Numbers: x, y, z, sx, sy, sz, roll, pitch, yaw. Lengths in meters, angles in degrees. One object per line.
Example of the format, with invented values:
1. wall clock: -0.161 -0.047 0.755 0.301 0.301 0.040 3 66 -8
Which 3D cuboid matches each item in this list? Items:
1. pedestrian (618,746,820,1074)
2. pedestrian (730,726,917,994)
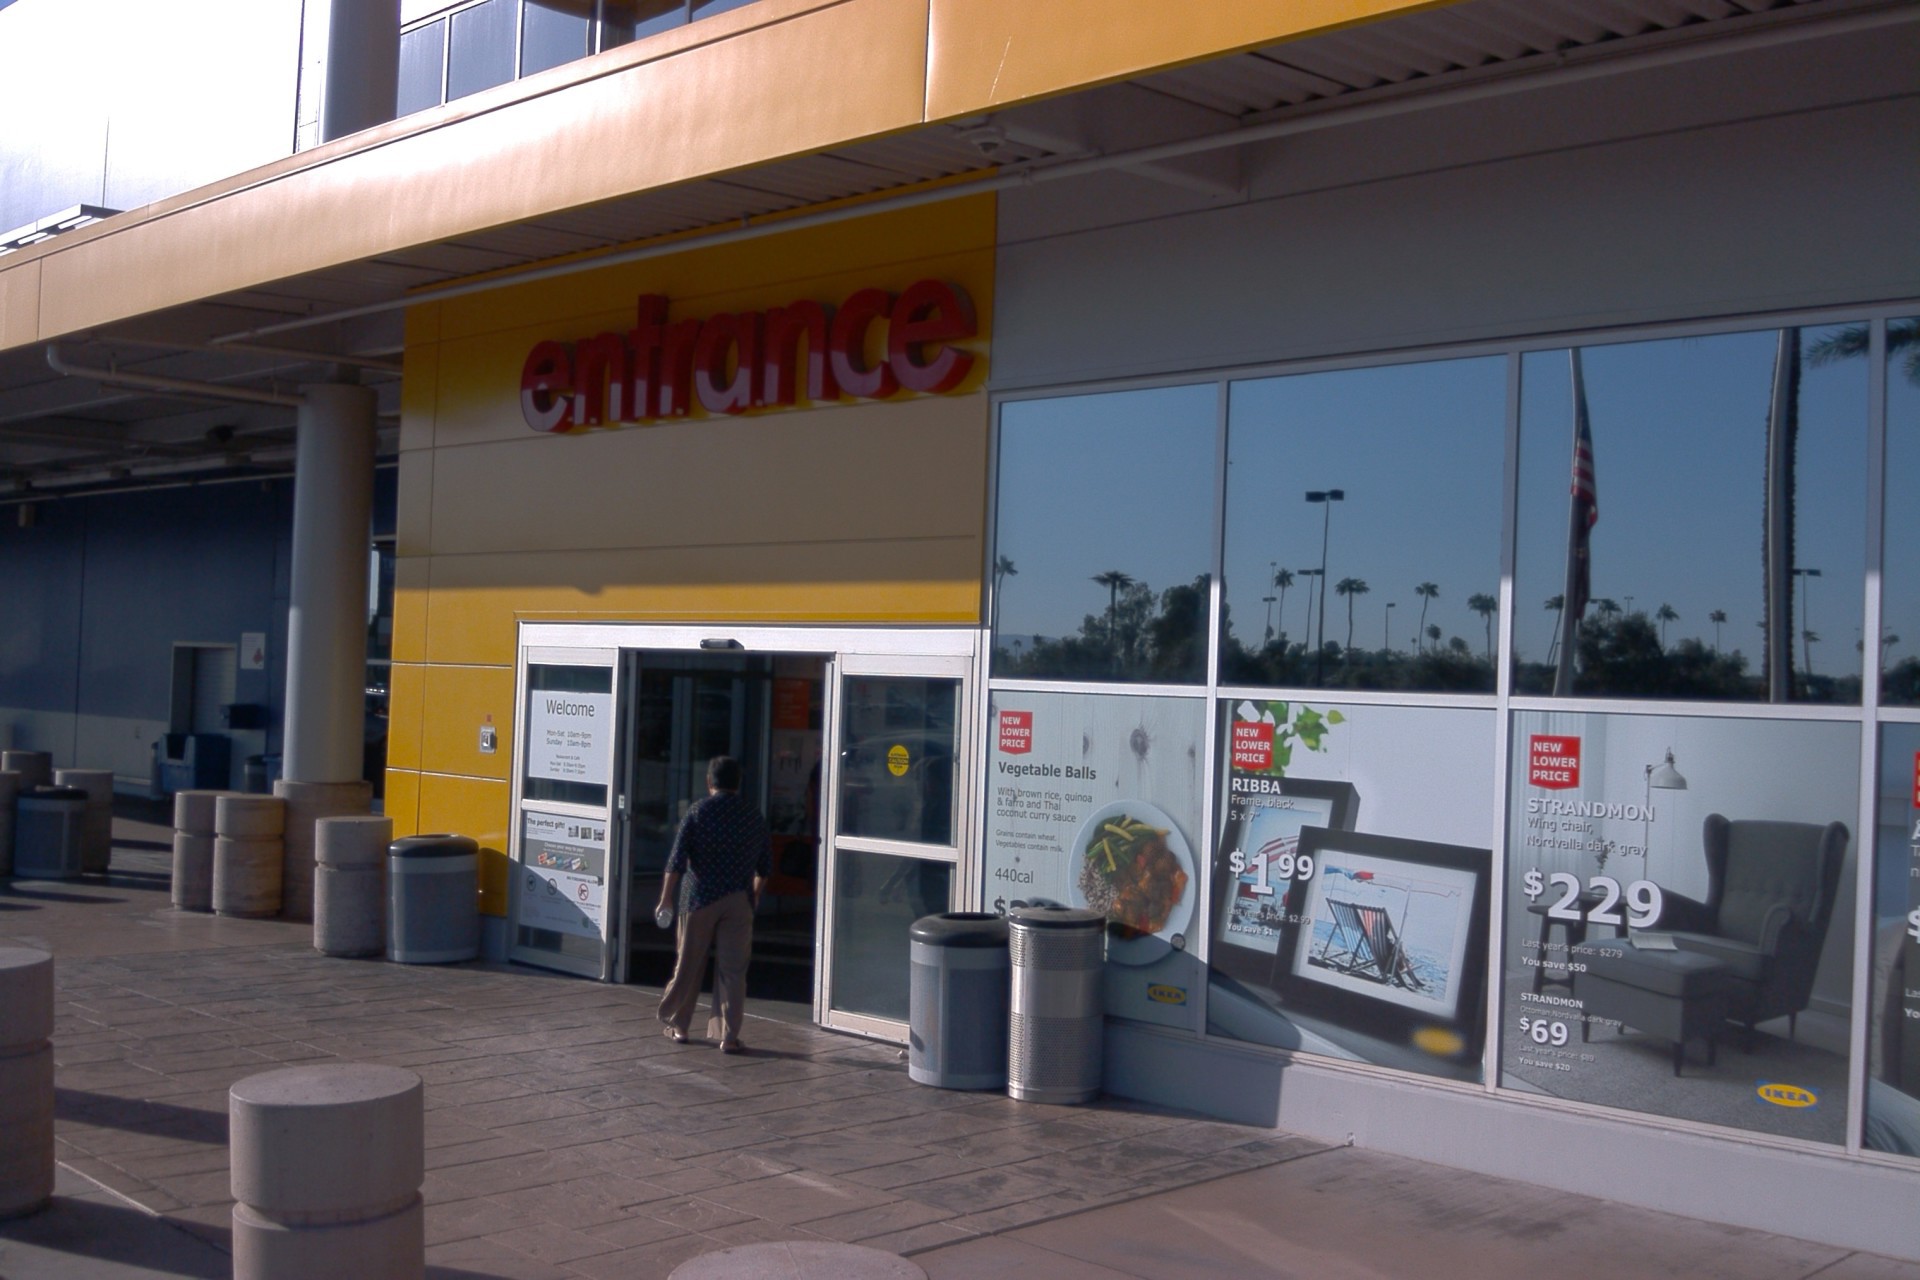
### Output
1. pedestrian: -1.289 1.379 11.020 0.947 1.580 1.103 2 0 -10
2. pedestrian: -0.906 1.441 14.128 0.831 1.680 0.972 1 0 28
